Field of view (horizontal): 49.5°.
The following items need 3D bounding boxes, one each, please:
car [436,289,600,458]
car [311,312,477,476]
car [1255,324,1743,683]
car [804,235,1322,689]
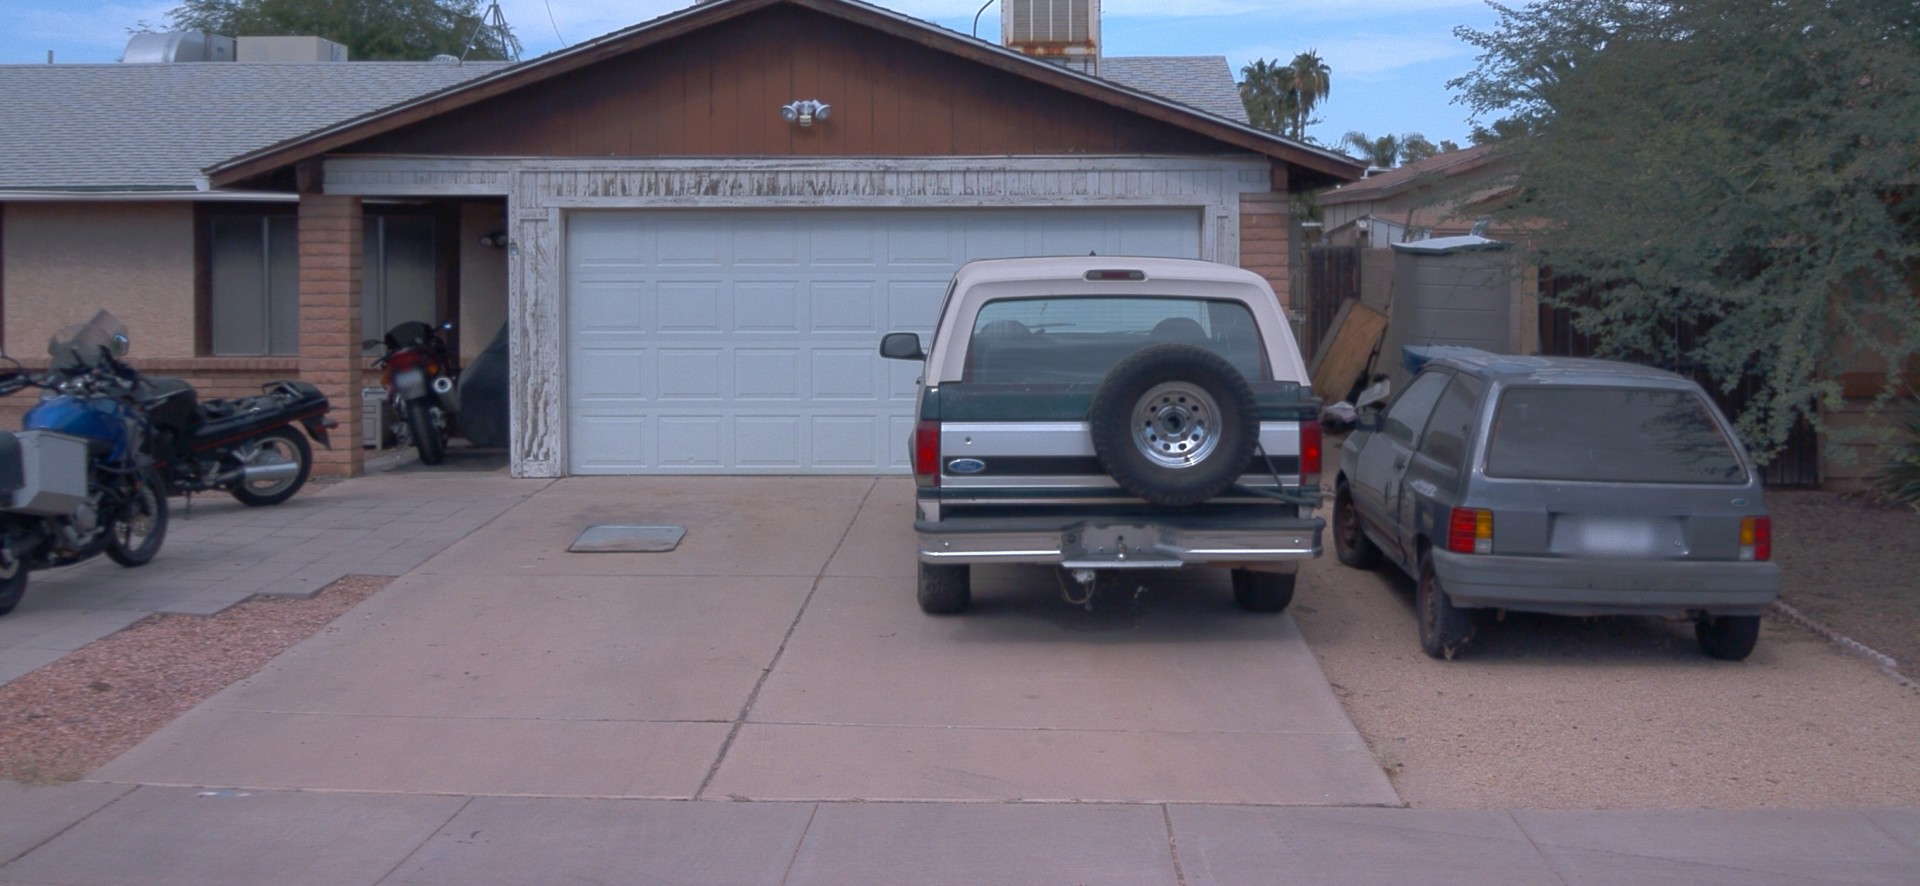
[{"bbox_3d":[-4.105,-0.684,19.466,1.036,1.446,1.673,1,4,5],"label":"car"},{"bbox_3d":[-4.819,-0.461,17.883,0.935,1.246,2.047,0,5,-3],"label":"car"},{"bbox_3d":[2.810,0.192,11.614,1.772,1.534,3.457,0,5,-1],"label":"car"},{"bbox_3d":[0.473,-0.151,12.212,2.416,2.091,4.934,0,5,-1],"label":"car"}]
